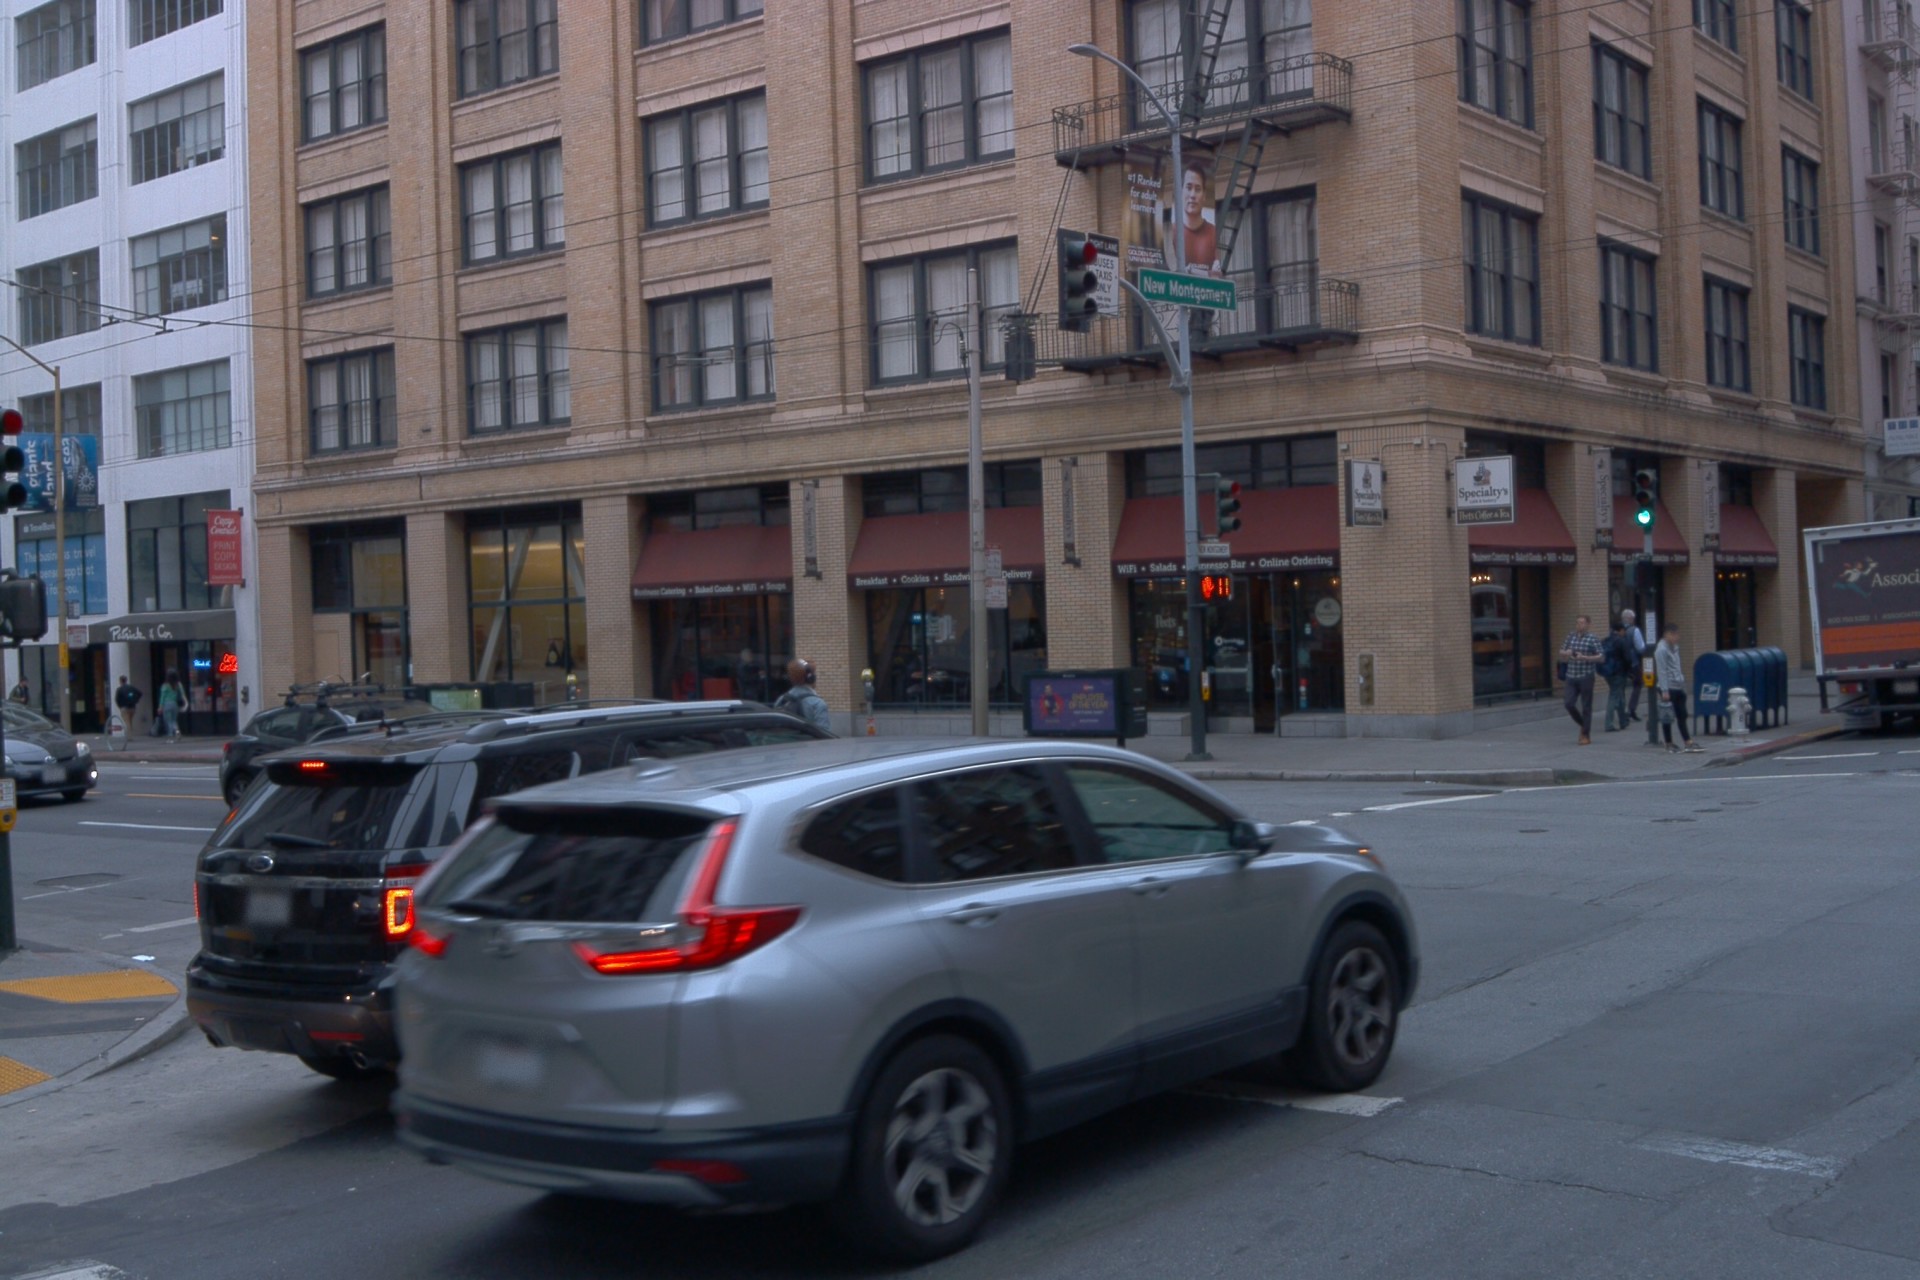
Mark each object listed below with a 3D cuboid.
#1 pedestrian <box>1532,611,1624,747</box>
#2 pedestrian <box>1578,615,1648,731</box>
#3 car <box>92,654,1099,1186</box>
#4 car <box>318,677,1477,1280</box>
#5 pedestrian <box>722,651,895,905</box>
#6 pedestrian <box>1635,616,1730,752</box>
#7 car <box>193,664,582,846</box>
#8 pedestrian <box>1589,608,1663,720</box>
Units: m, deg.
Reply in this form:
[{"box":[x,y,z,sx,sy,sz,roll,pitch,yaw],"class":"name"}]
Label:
[{"box":[8.858,0.540,29.568,0.938,1.900,0.901,-1,1,-43],"class":"pedestrian"},{"box":[10.032,0.494,31.723,0.765,1.750,0.930,1,1,36],"class":"pedestrian"},{"box":[-1.588,1.125,10.805,2.271,1.970,4.960,1,1,37],"class":"car"},{"box":[0.048,1.123,8.211,2.071,1.780,4.552,1,1,41],"class":"car"},{"box":[-1.182,1.042,16.237,0.755,1.880,1.170,1,1,38],"class":"pedestrian"},{"box":[9.746,0.576,27.847,0.965,1.787,0.791,1,1,44],"class":"pedestrian"},{"box":[-6.534,1.210,23.381,4.370,1.740,2.024,1,1,38],"class":"car"},{"box":[10.749,0.371,33.300,0.827,1.780,1.060,1,1,36],"class":"pedestrian"}]
